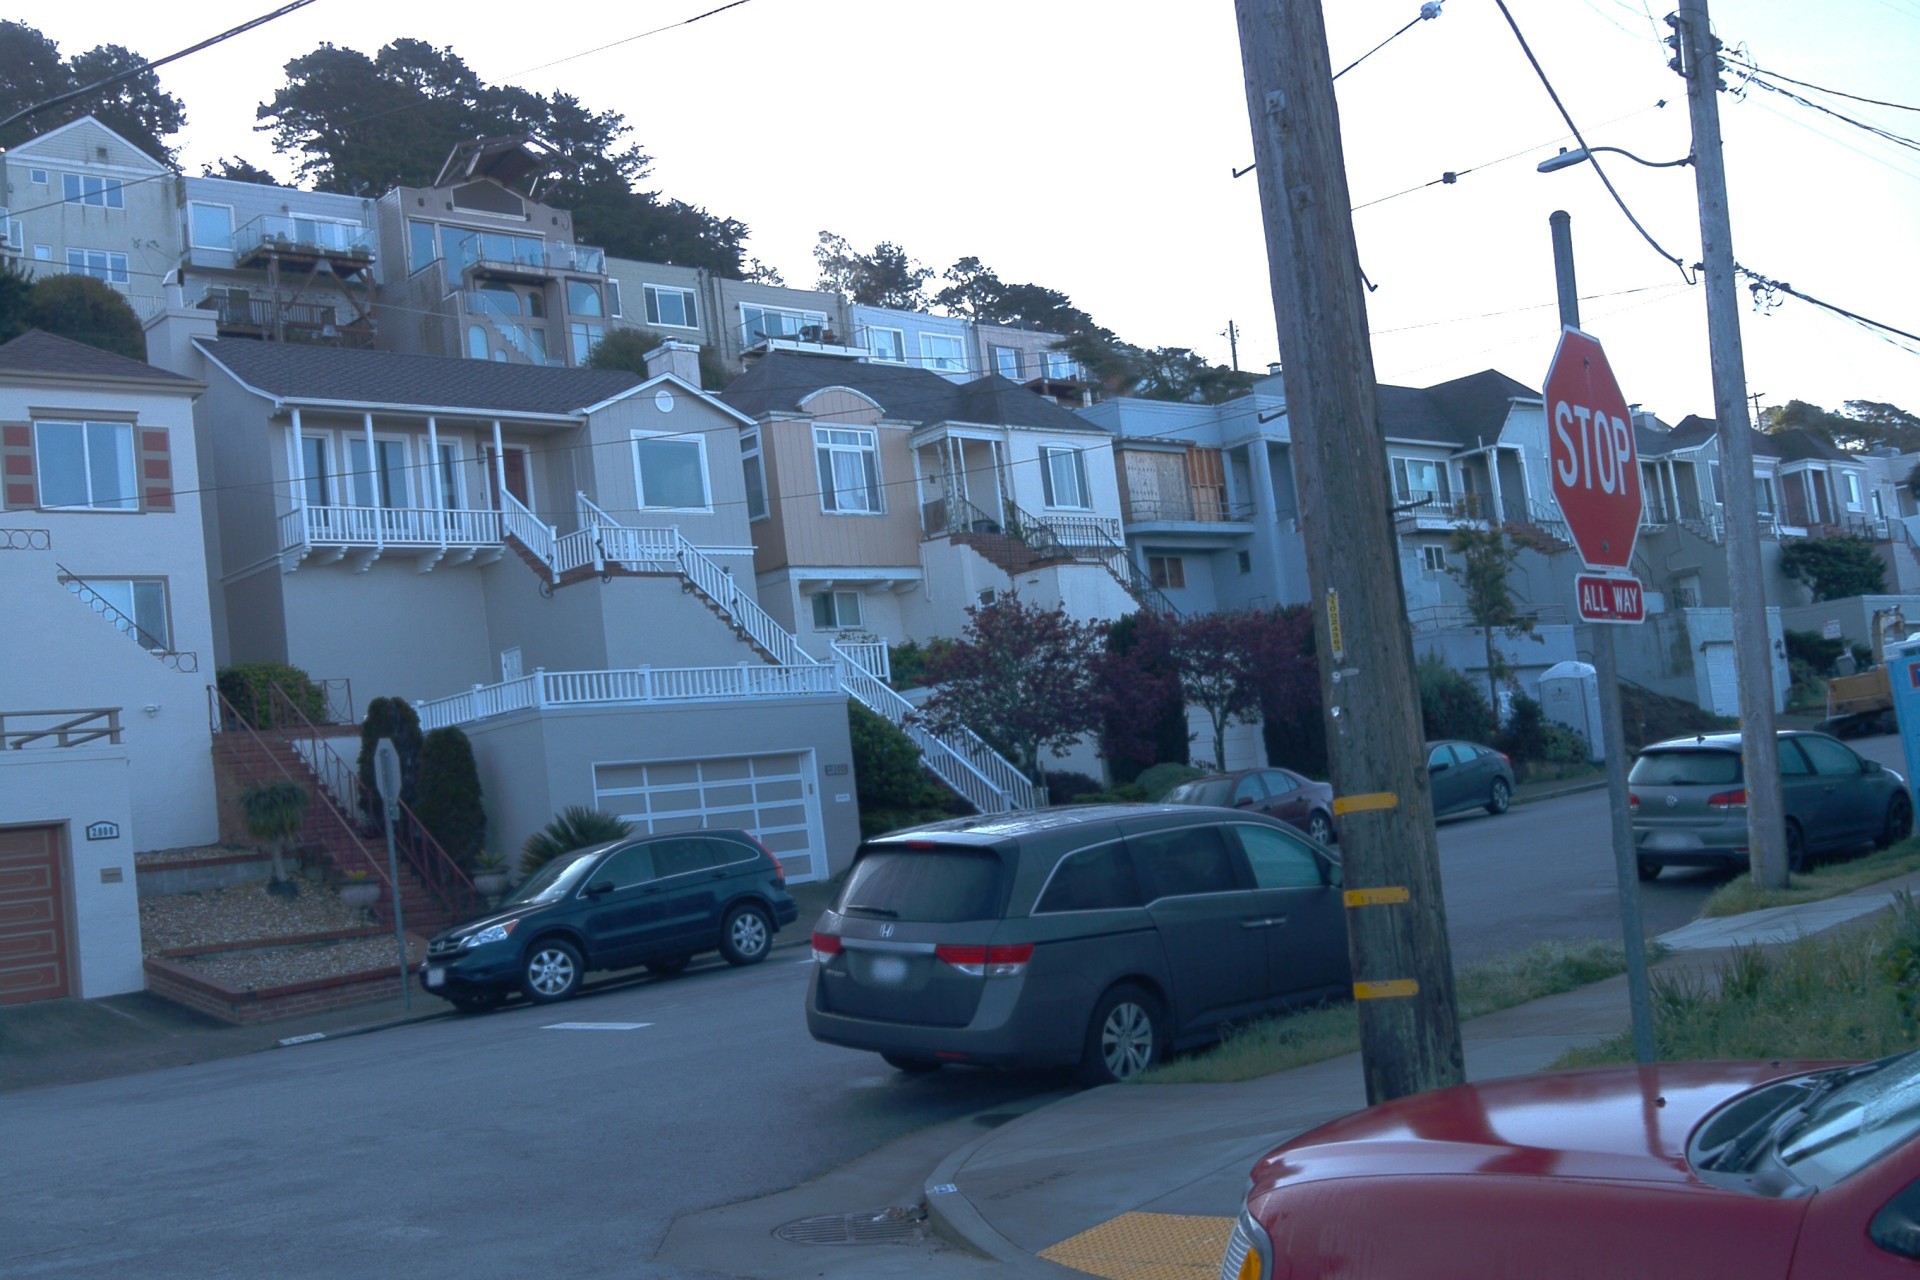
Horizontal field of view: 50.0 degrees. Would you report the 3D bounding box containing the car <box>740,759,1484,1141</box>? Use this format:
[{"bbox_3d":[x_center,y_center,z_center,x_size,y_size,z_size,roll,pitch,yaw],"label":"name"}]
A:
[{"bbox_3d":[1.244,1.907,14.338,2.390,1.860,5.188,0,0,44],"label":"car"}]

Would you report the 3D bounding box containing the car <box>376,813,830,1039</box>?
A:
[{"bbox_3d":[-3.983,3.129,23.512,4.680,1.910,2.207,0,0,-44],"label":"car"}]

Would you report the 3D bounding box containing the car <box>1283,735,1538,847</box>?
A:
[{"bbox_3d":[7.753,2.512,35.177,2.163,1.560,4.754,0,0,42],"label":"car"}]

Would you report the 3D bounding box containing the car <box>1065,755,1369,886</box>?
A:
[{"bbox_3d":[3.971,2.658,31.226,2.151,1.560,4.797,0,0,44],"label":"car"}]
